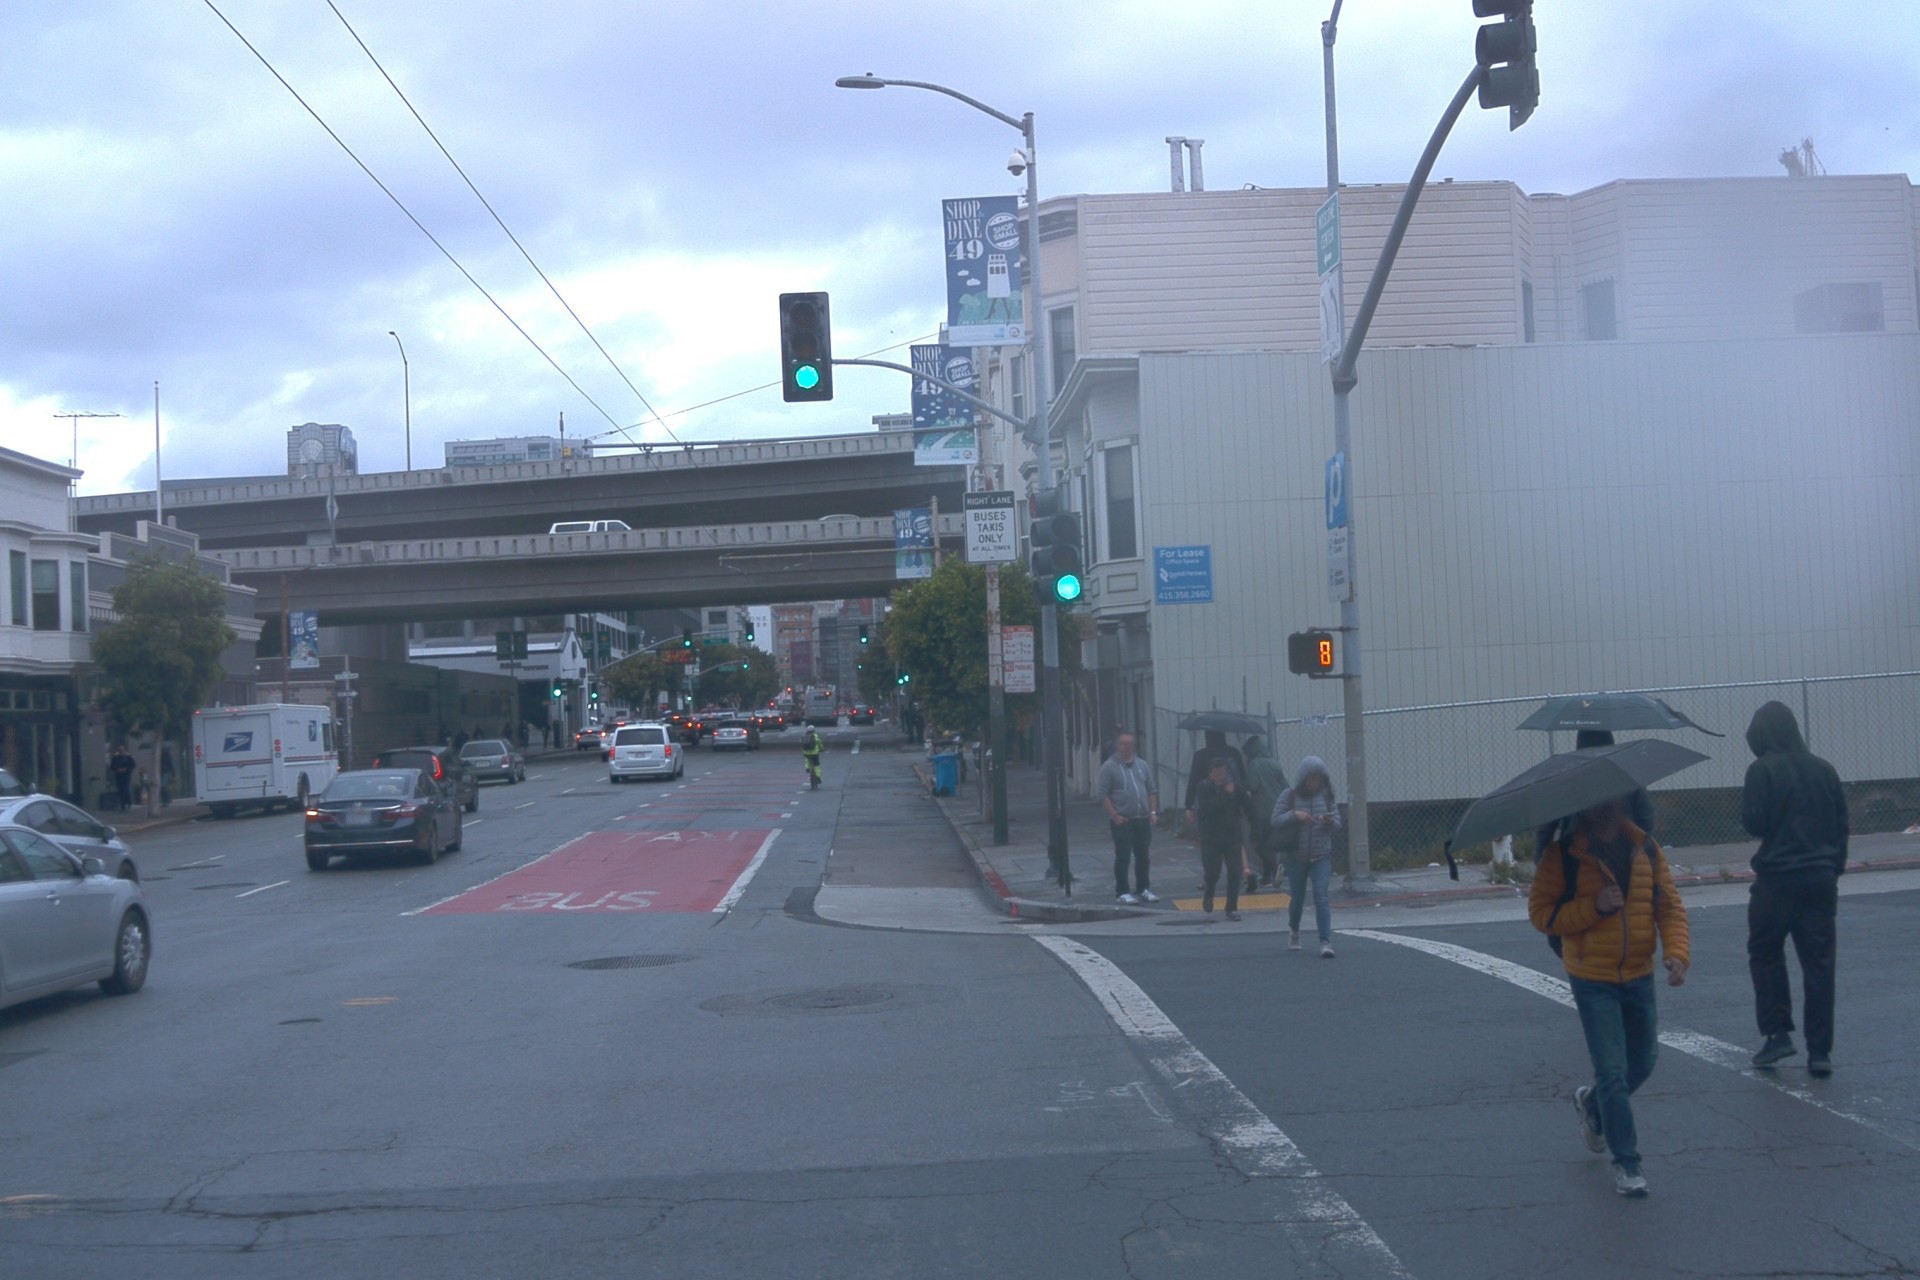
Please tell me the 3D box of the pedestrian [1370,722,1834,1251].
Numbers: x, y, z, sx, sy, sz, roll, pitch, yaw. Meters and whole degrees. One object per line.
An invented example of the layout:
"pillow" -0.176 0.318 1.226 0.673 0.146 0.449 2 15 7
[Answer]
"pedestrian" 2.365 1.224 7.868 1.299 1.790 1.323 0 -1 -3

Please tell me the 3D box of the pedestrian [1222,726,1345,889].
"pedestrian" 3.502 1.797 22.550 0.990 1.692 1.085 0 -1 -13

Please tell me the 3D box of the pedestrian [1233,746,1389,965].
"pedestrian" 2.642 1.607 15.716 1.000 1.560 1.000 0 -1 0

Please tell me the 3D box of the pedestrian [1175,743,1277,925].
"pedestrian" 2.585 1.869 20.219 0.810 1.680 1.024 0 -1 -3

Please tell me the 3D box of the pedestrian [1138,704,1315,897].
"pedestrian" 2.889 1.709 22.652 1.410 1.988 1.525 0 -1 -16

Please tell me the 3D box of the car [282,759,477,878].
"car" -8.979 2.727 32.500 2.107 1.490 4.922 0 -1 -6

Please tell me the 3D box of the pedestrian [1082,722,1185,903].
"pedestrian" 1.828 1.801 21.895 0.843 1.837 0.755 0 -1 -19

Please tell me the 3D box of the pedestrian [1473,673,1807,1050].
"pedestrian" 3.782 1.178 11.726 1.351 1.976 1.599 0 -1 0
